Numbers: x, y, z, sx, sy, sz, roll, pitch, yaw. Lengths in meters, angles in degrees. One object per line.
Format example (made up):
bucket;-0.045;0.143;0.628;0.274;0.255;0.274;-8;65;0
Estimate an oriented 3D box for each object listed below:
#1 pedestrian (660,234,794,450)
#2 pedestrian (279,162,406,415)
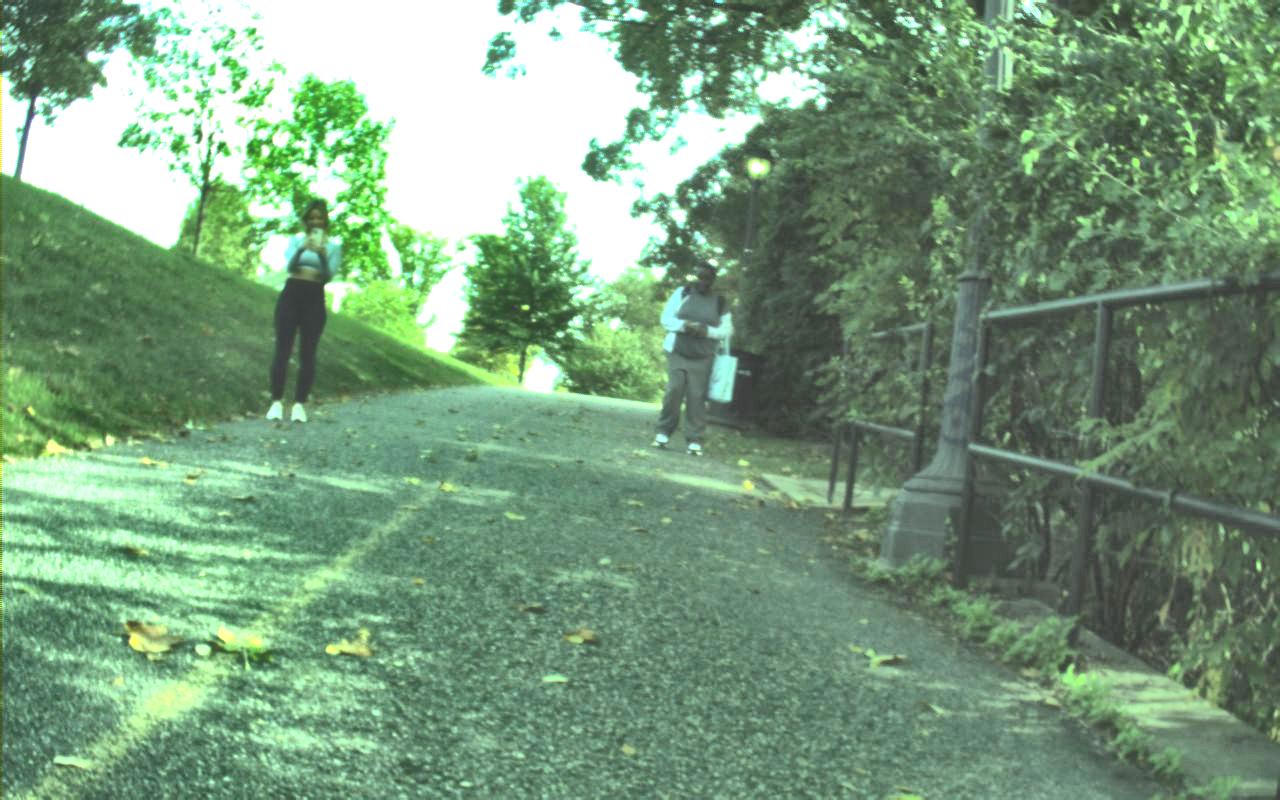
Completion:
pedestrian;0.753;-0.488;10.877;0.808;1.766;0.830;1;0;42
pedestrian;-2.146;-0.765;8.766;0.797;1.728;0.768;0;0;-22
